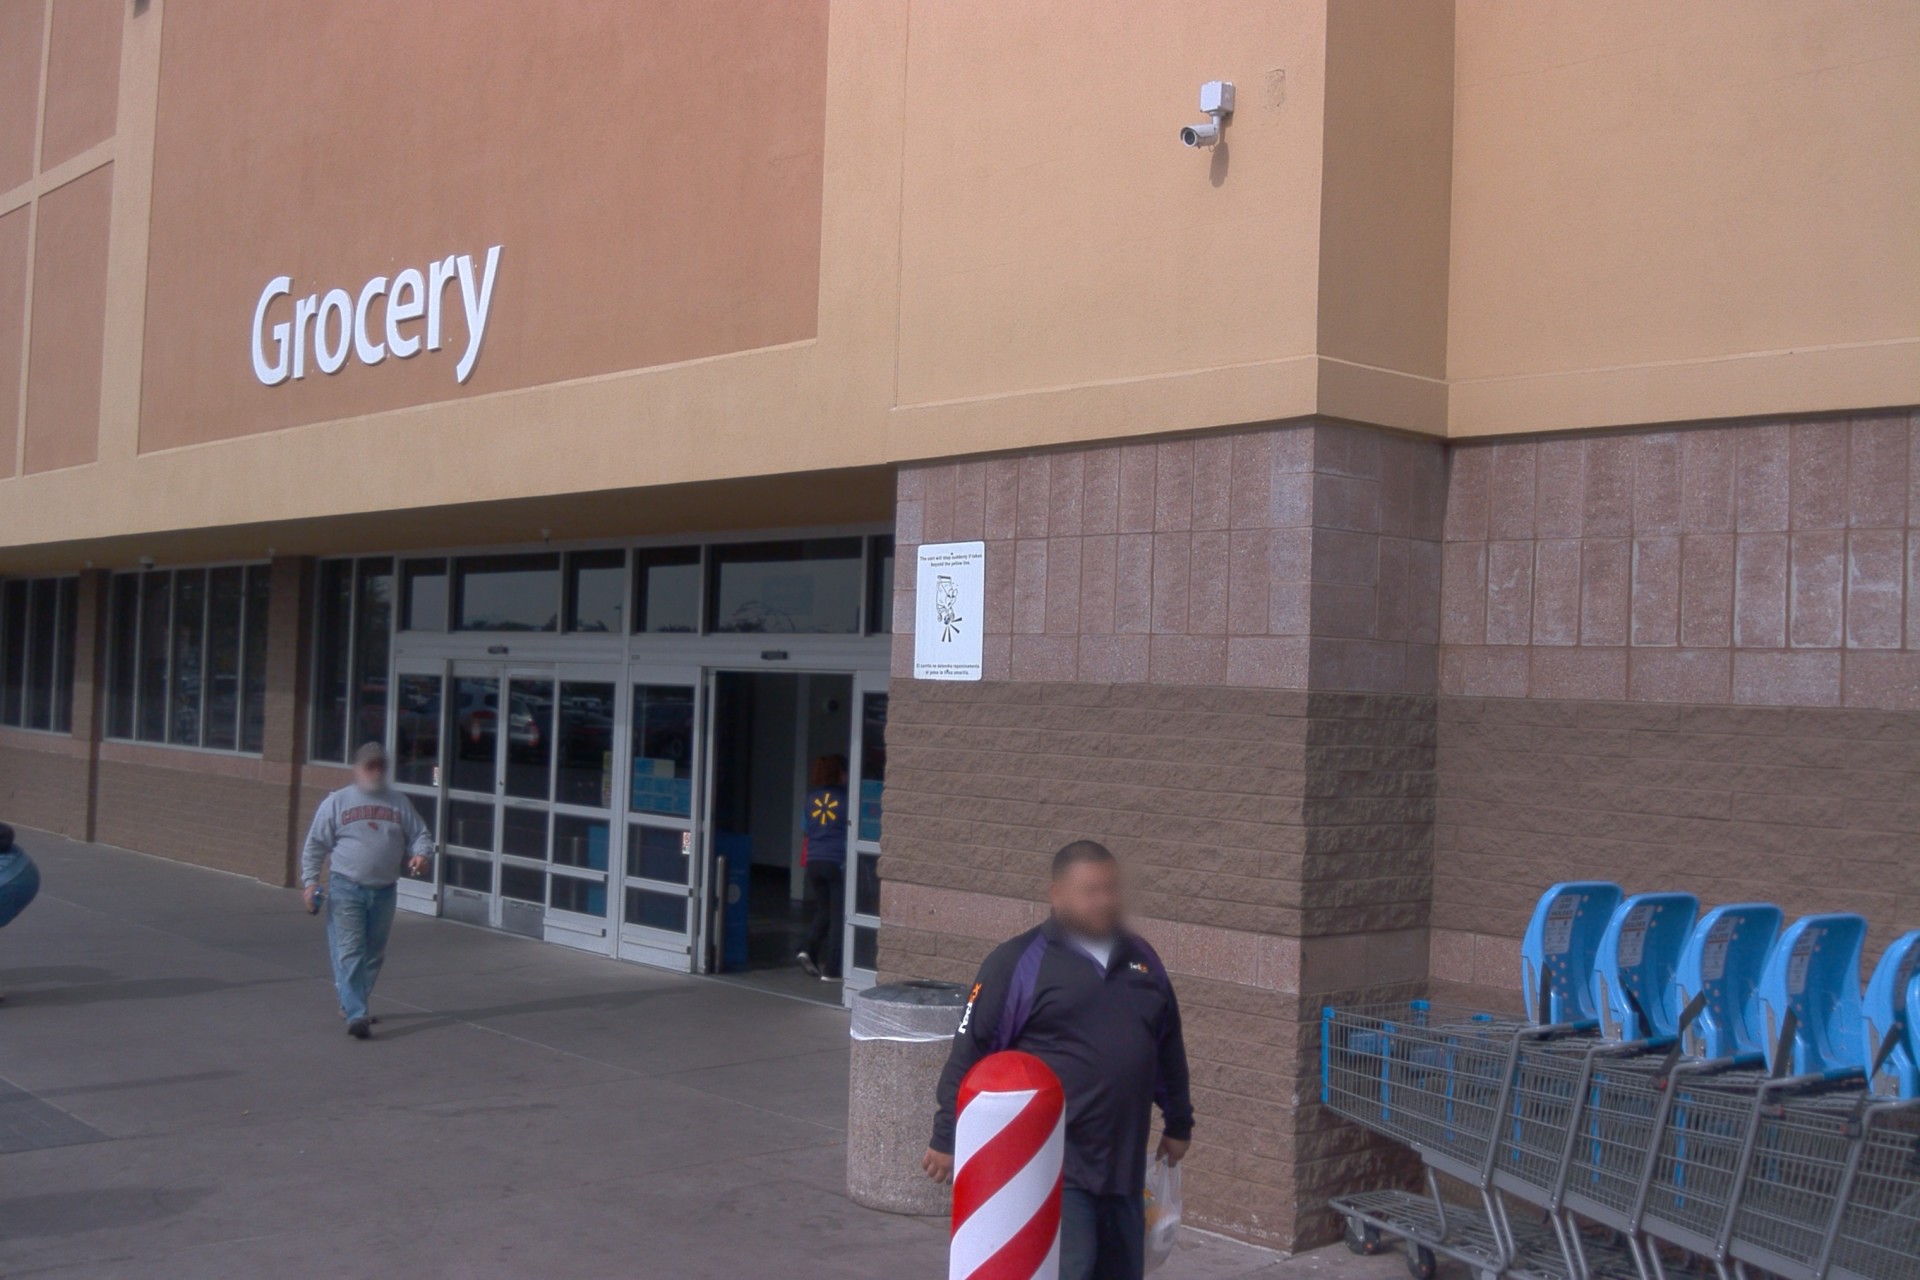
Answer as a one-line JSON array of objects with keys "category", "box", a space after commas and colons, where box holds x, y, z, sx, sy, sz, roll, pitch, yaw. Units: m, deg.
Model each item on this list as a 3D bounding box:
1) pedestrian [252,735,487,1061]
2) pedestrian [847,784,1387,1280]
[{"category": "pedestrian", "box": [-3.401, 1.428, 11.968, 1.000, 1.710, 1.000, 1, 0, -35]}, {"category": "pedestrian", "box": [0.396, 1.295, 5.669, 1.009, 1.720, 1.095, 1, 0, -29]}]
